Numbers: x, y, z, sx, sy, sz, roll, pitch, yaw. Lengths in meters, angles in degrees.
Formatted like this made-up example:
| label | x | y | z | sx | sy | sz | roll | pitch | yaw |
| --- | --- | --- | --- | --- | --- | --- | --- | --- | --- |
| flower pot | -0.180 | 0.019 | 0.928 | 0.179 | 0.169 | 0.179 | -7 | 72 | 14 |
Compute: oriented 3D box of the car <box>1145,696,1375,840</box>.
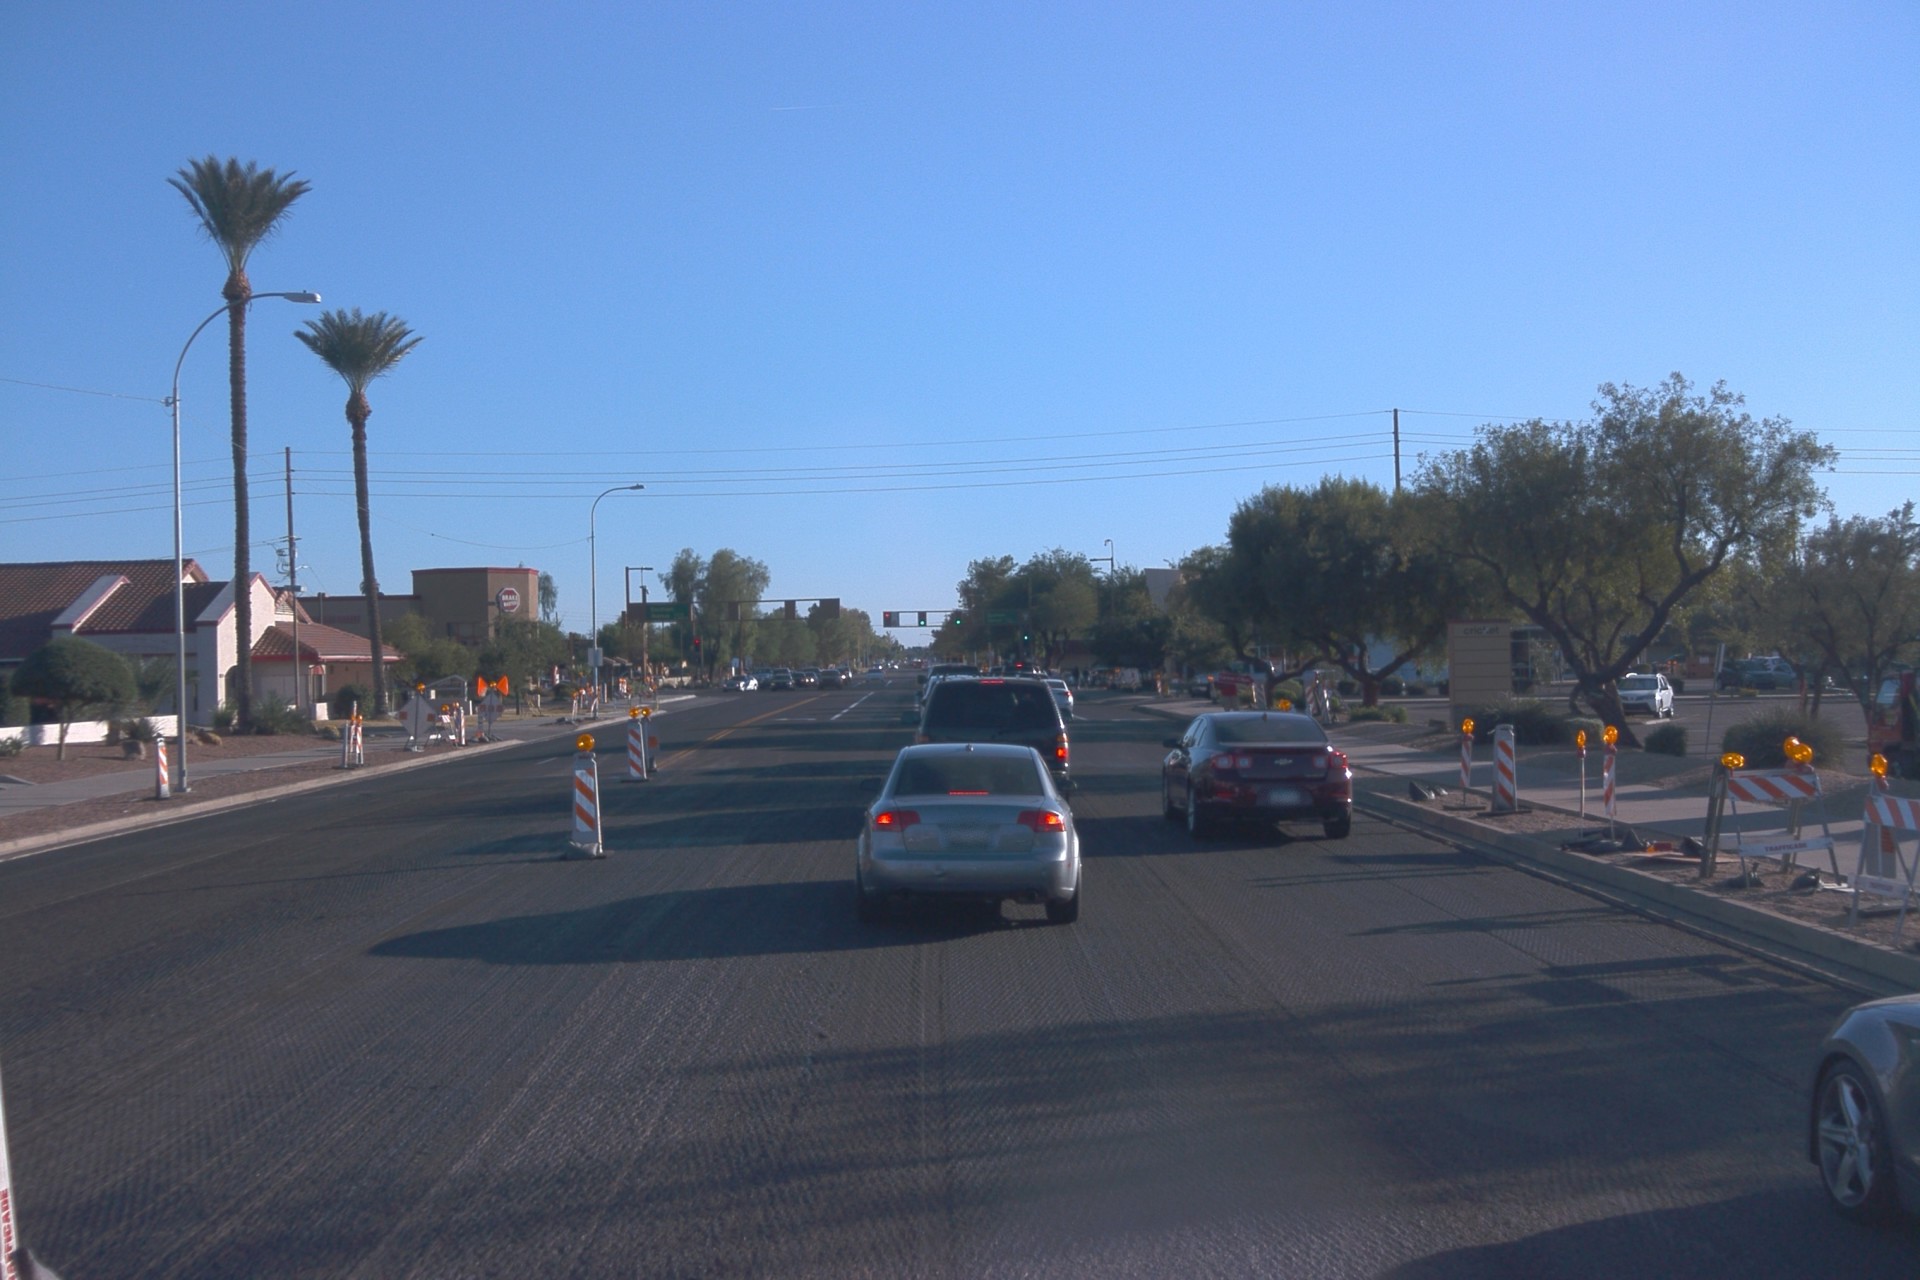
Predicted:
| label | x | y | z | sx | sy | sz | roll | pitch | yaw |
| --- | --- | --- | --- | --- | --- | --- | --- | --- | --- |
| car | 3.544 | 1.488 | 25.489 | 2.110 | 1.540 | 4.833 | 0 | -1 | 0 |

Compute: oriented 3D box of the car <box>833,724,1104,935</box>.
| label | x | y | z | sx | sy | sz | roll | pitch | yaw |
| --- | --- | --- | --- | --- | --- | --- | --- | --- | --- |
| car | 0.086 | 1.511 | 17.831 | 2.033 | 1.480 | 4.402 | 0 | -1 | 1 |

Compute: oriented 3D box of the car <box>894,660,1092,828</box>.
| label | x | y | z | sx | sy | sz | roll | pitch | yaw |
| --- | --- | --- | --- | --- | --- | --- | --- | --- | --- |
| car | 0.377 | 1.307 | 27.800 | 2.405 | 2.040 | 5.061 | 0 | -1 | 0 |
